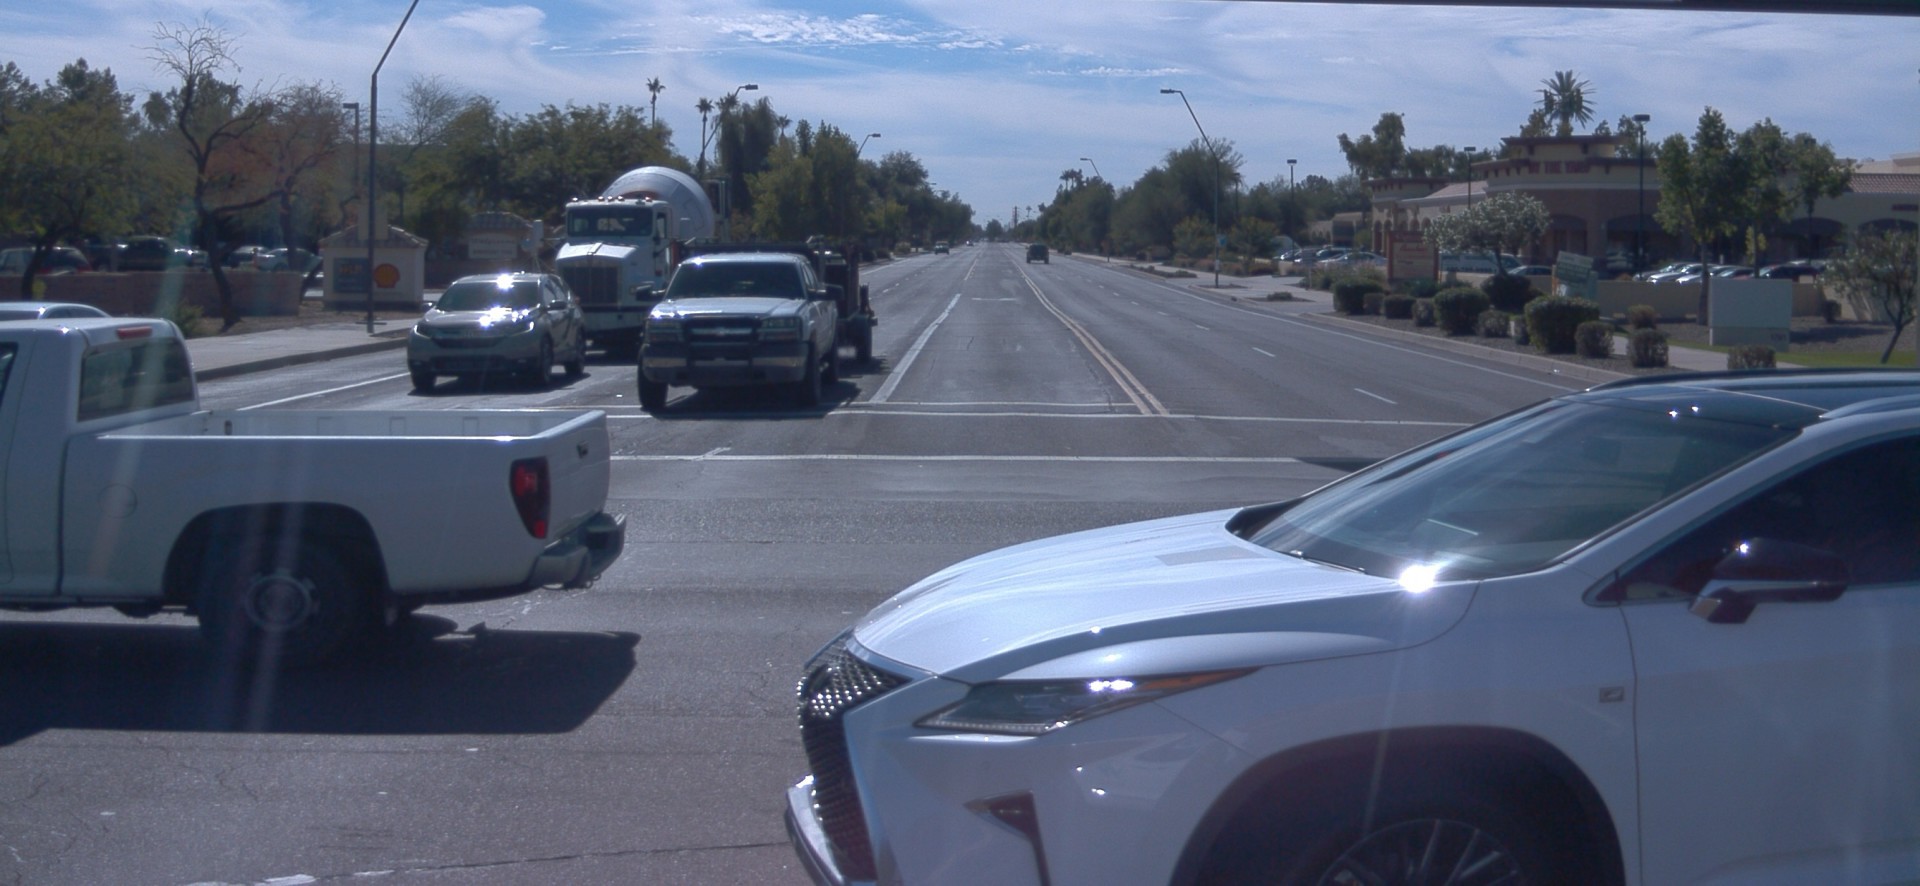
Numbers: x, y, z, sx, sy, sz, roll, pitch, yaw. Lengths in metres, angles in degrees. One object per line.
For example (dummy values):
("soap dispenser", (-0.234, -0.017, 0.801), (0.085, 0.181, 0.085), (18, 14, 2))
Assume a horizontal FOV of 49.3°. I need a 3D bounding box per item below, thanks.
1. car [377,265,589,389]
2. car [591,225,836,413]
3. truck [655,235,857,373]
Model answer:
("car", (-7.076, -1.812, 31.551), (2.124, 1.643, 4.470), (0, 5, 0))
("car", (-3.122, -1.819, 28.183), (2.561, 2.200, 6.774), (0, 5, -1))
("truck", (-3.237, -2.410, 34.732), (2.787, 2.041, 6.074), (0, 5, -1))
